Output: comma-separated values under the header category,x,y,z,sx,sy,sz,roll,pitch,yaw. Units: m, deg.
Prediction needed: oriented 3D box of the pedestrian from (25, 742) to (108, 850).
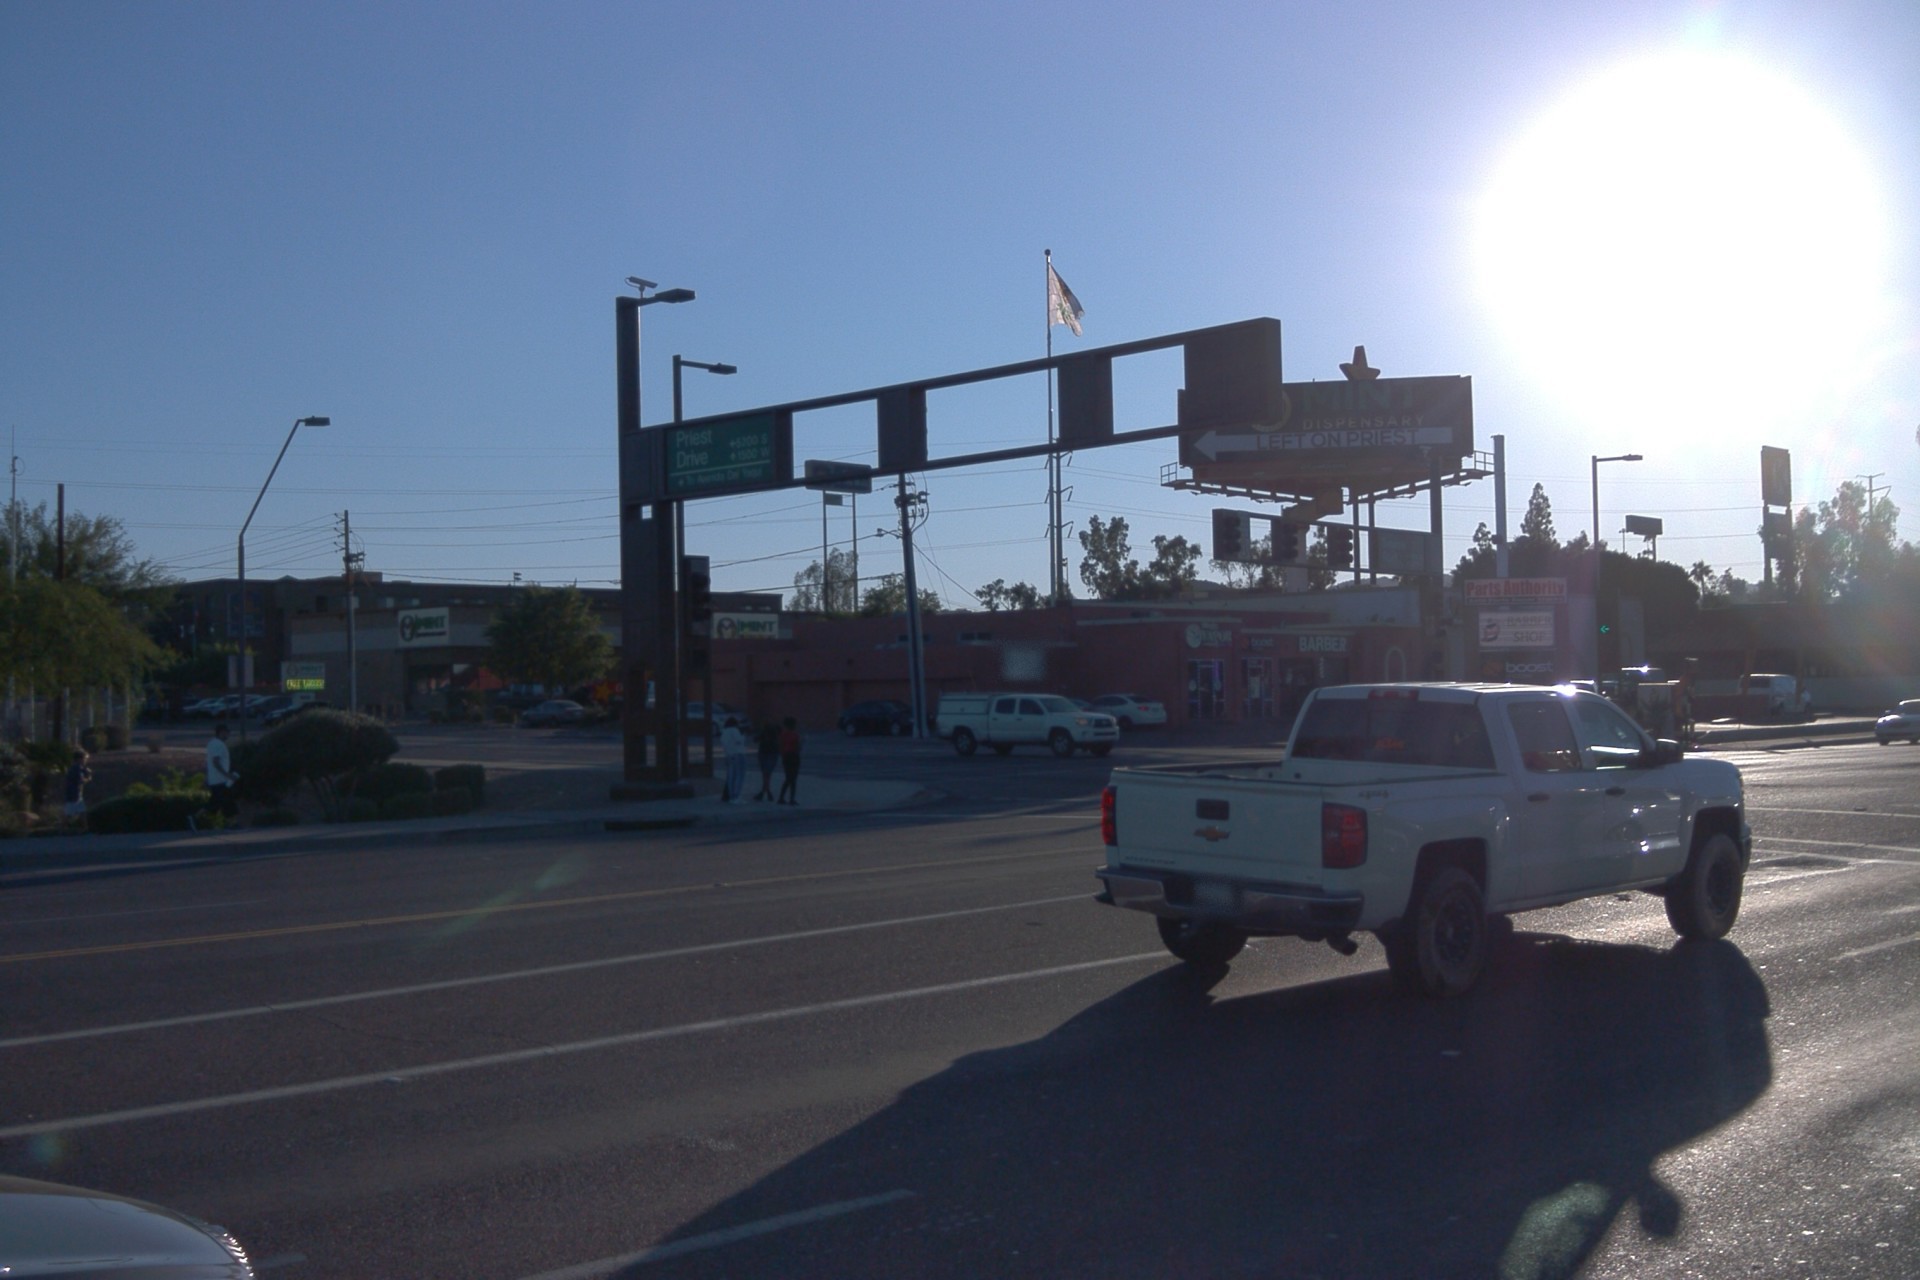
category,x,y,z,sx,sy,sz,roll,pitch,yaw
pedestrian,-13.013,2.257,30.359,0.909,1.490,0.822,0,-1,-40

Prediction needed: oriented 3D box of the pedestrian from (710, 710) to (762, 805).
category,x,y,z,sx,sy,sz,roll,pitch,yaw
pedestrian,-3.963,2.067,36.909,0.652,1.640,0.645,-1,-1,32

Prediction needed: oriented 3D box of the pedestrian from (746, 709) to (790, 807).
category,x,y,z,sx,sy,sz,roll,pitch,yaw
pedestrian,-3.478,2.134,37.830,0.722,1.720,0.935,0,-1,-2

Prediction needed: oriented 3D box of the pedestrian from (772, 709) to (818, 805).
category,x,y,z,sx,sy,sz,roll,pitch,yaw
pedestrian,-2.938,2.074,37.053,0.654,1.660,0.643,0,-1,-19

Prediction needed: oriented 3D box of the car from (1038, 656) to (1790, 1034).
category,x,y,z,sx,sy,sz,roll,pitch,yaw
car,3.392,1.179,14.570,2.388,2.100,5.786,-1,-1,45

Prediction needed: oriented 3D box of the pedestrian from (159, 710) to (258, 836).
category,x,y,z,sx,sy,sz,roll,pitch,yaw
pedestrian,-11.049,1.939,30.627,1.155,1.776,0.859,0,-1,-38
